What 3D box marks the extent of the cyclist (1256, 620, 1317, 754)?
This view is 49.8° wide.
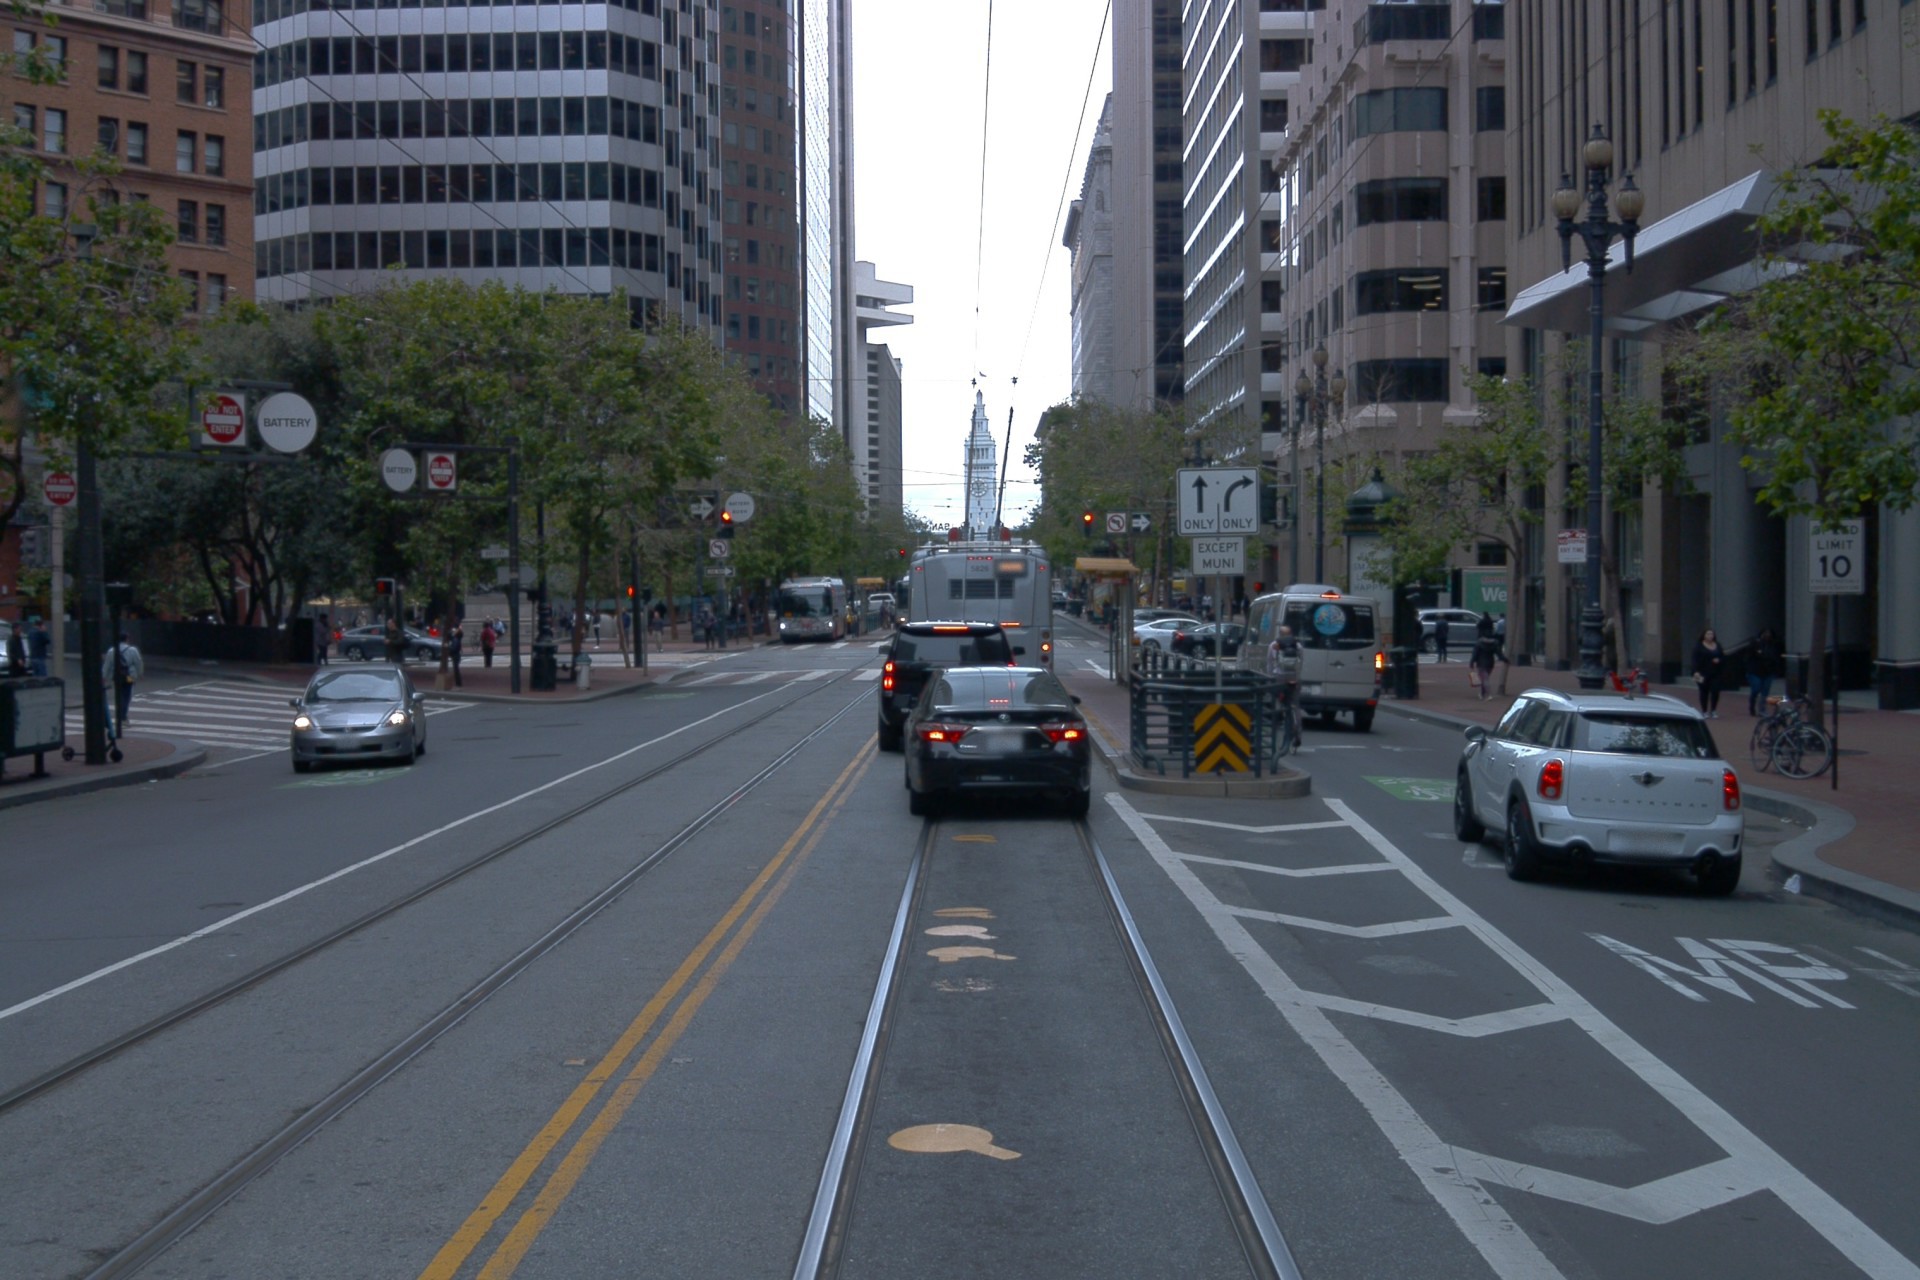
[{"bbox_3d":[4.749,0.661,30.139,0.638,1.900,1.439,0,1,-1],"label":"cyclist"}]

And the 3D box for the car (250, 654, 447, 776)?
[{"bbox_3d":[-8.861,1.040,30.288,2.069,1.580,3.978,-1,1,-6],"label":"car"}]

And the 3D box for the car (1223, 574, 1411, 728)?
[{"bbox_3d":[6.403,0.163,37.782,2.536,2.590,5.349,0,1,0],"label":"car"}]

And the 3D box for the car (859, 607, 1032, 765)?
[{"bbox_3d":[-0.158,0.591,30.536,2.308,2.100,5.442,0,1,1],"label":"car"}]

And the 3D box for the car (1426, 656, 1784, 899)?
[{"bbox_3d":[5.381,1.072,17.780,2.075,1.784,3.877,0,1,4],"label":"car"}]

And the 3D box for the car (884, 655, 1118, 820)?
[{"bbox_3d":[0.304,0.934,21.809,2.188,1.460,4.687,0,1,-2],"label":"car"}]
